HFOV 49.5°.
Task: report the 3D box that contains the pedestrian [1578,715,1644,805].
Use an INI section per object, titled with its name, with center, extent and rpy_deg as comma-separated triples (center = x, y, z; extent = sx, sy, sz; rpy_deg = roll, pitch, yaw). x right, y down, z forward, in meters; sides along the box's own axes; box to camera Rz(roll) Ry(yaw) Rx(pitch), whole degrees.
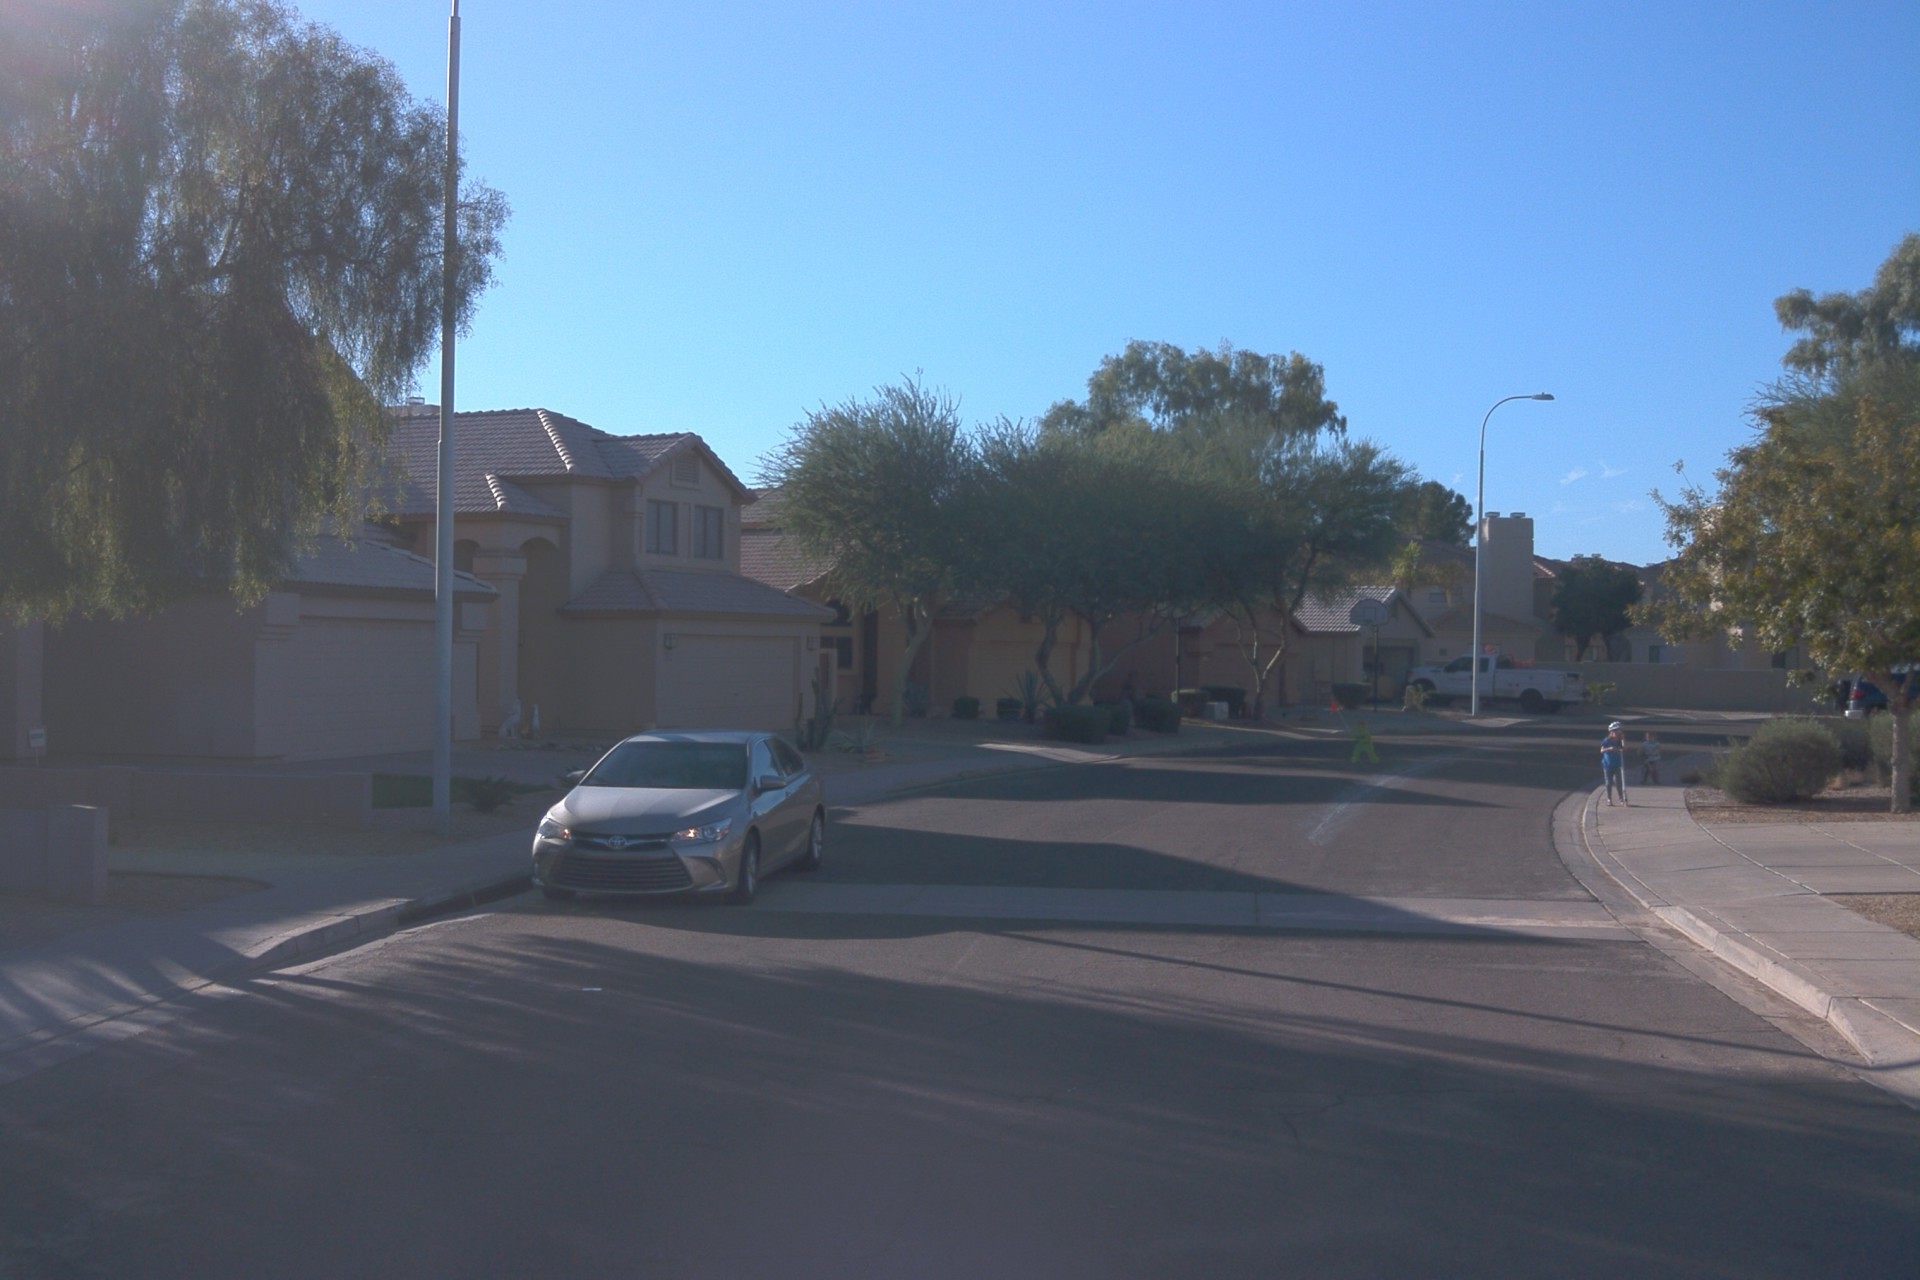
[pedestrian]
center = 9.287, 1.700, 29.710
extent = 0.544, 1.230, 1.165
rpy_deg = 0, 0, -2

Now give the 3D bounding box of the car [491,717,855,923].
[car]
center = -2.496, 1.565, 19.537
extent = 2.191, 1.510, 4.856
rpy_deg = 0, 0, 8
